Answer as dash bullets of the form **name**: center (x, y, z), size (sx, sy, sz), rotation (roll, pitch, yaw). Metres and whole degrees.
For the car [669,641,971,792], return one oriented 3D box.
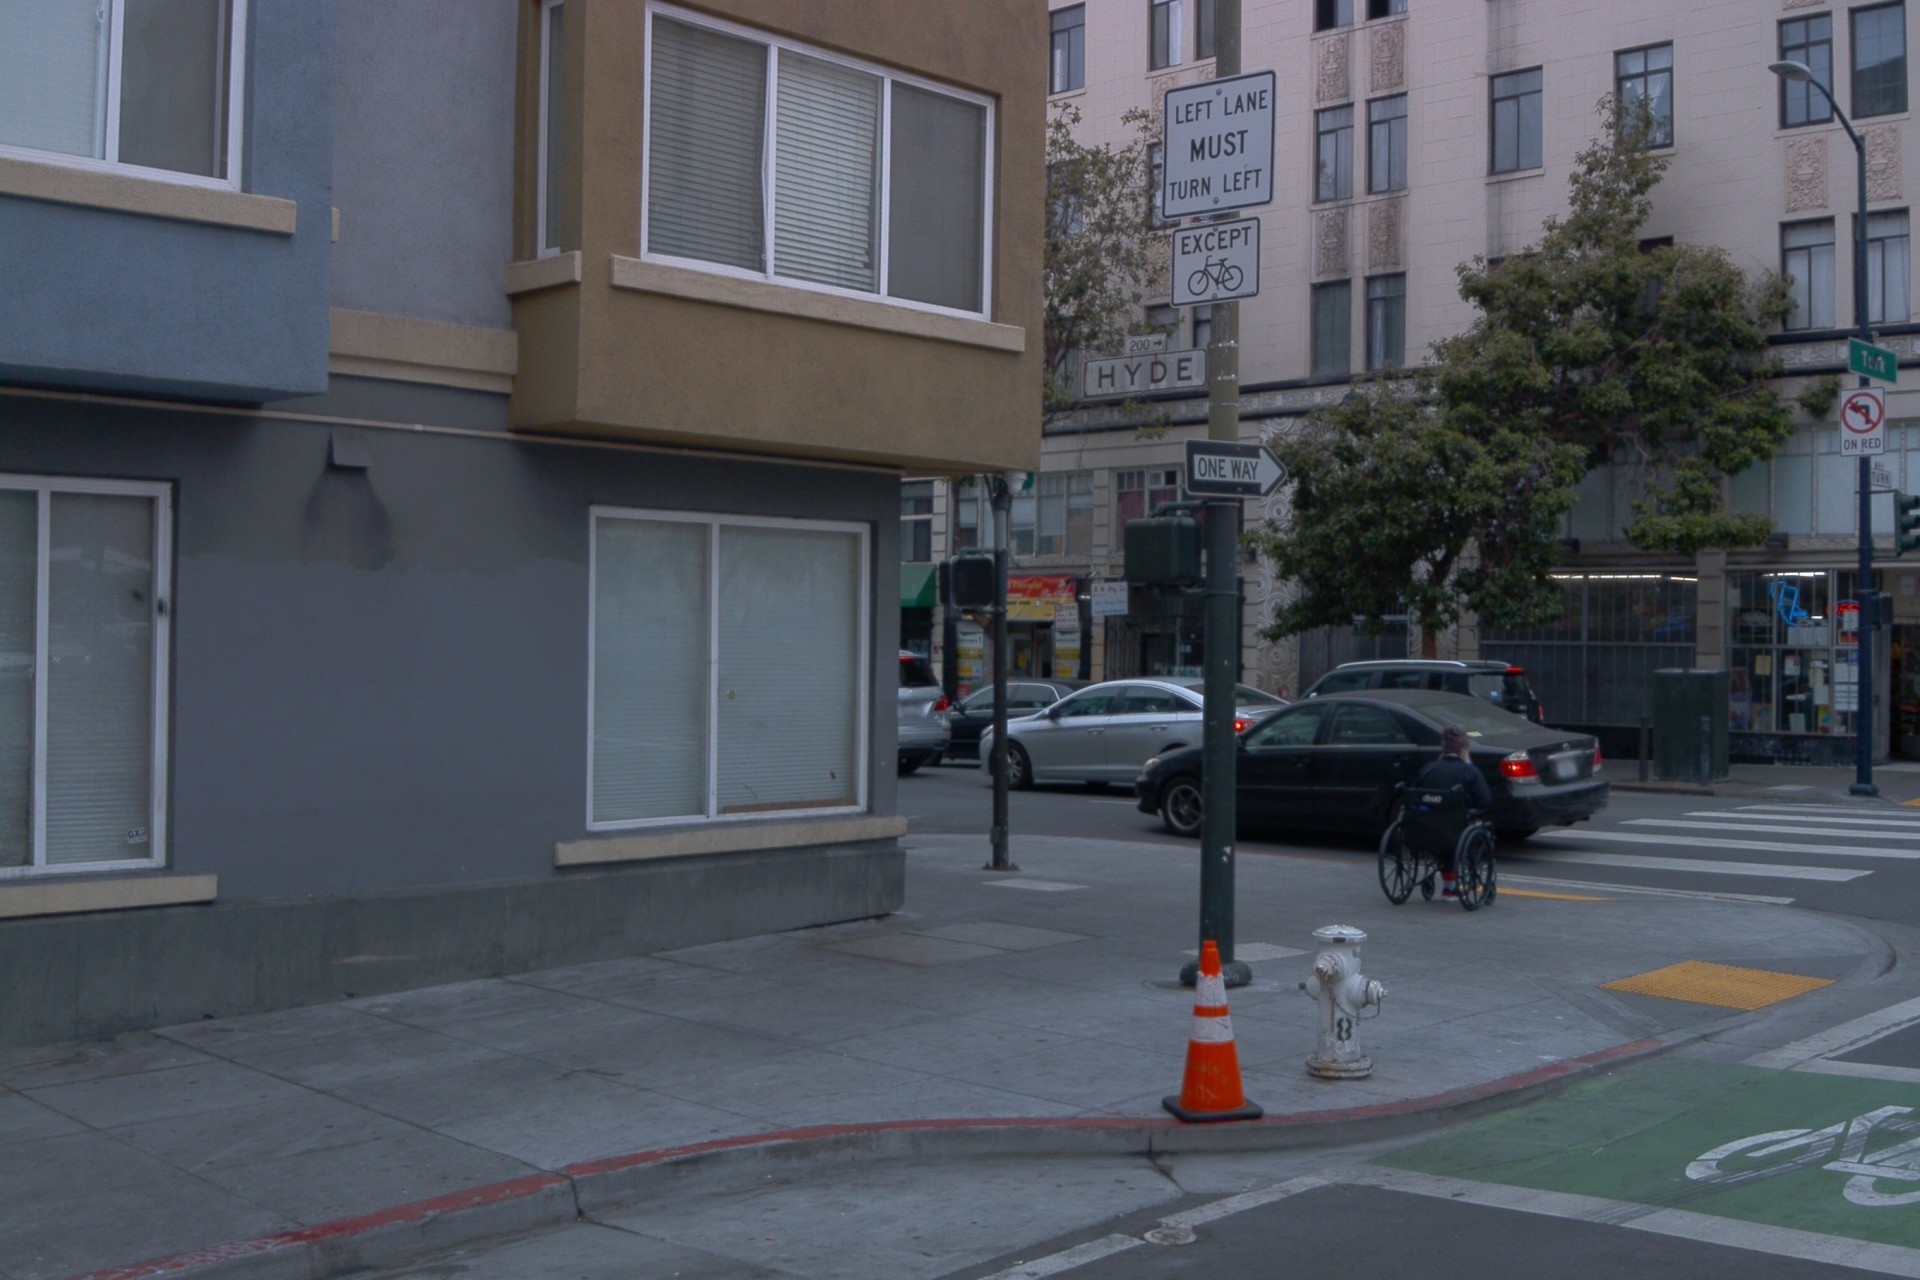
- **car**: center (-2.147, 1.050, 30.599), size (2.026, 1.970, 4.585), rotation (-1, 1, -43)

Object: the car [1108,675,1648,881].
- **car**: center (3.943, 1.221, 20.109), size (2.070, 1.600, 4.803), rotation (-1, 1, -45)

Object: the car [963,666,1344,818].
- **car**: center (2.336, 1.194, 25.911), size (1.939, 1.600, 4.599), rotation (-1, 1, -44)

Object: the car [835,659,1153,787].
- **car**: center (0.464, 1.218, 32.313), size (4.786, 1.723, 2.180), rotation (1, 1, 45)

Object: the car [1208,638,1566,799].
- **car**: center (5.526, 0.945, 27.054), size (1.925, 1.870, 4.231), rotation (-1, 1, -45)

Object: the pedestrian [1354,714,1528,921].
- **pedestrian**: center (3.504, 1.259, 15.016), size (0.883, 1.370, 1.026), rotation (1, 1, 38)
